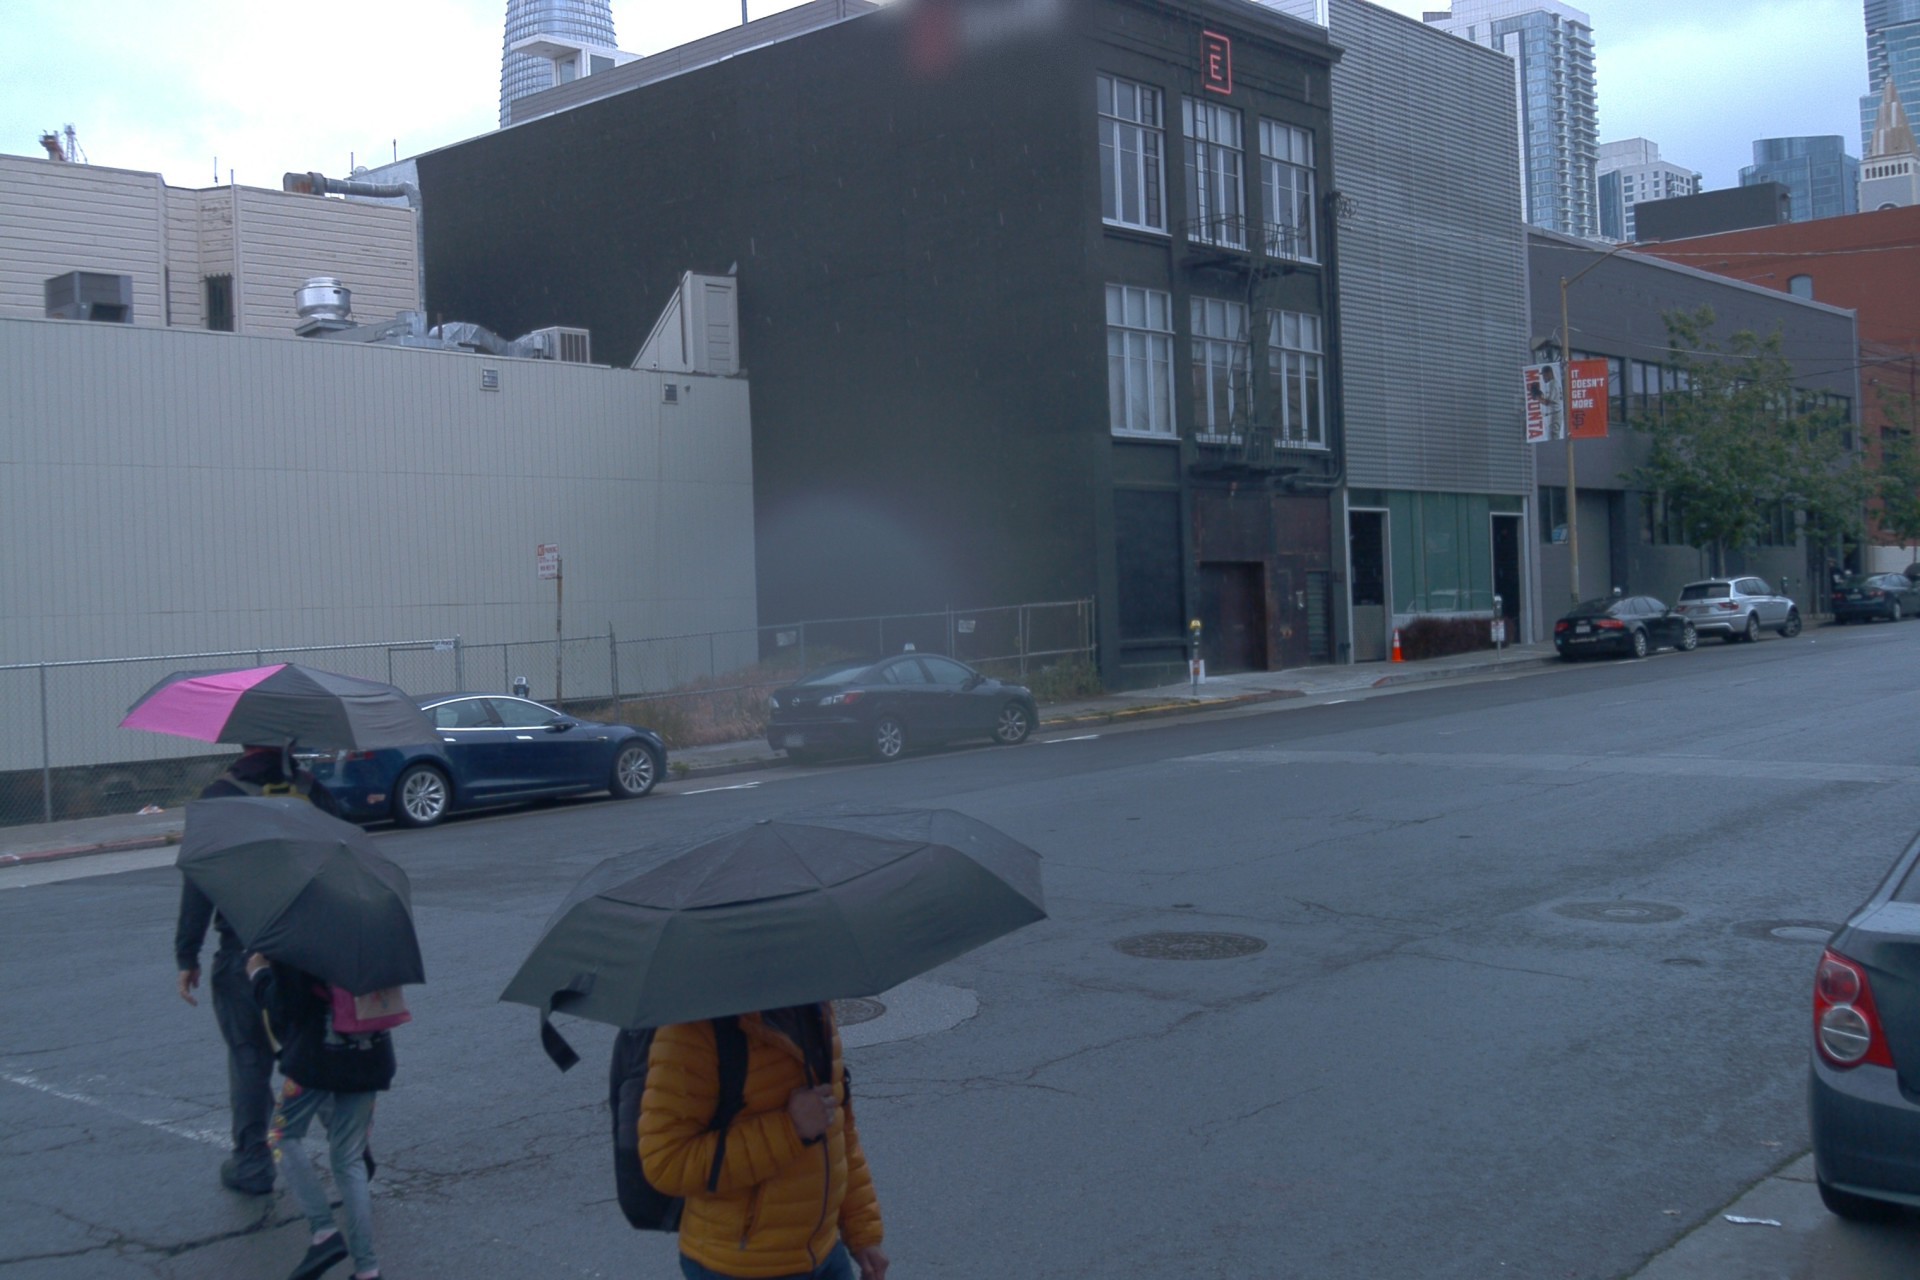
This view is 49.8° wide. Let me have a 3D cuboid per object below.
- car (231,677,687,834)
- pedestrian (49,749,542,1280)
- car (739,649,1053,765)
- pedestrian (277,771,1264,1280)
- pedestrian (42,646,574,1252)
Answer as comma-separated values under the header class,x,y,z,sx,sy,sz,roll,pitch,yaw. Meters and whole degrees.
class,x,y,z,sx,sy,sz,roll,pitch,yaw
car,-5.571,1.220,23.536,2.011,1.550,4.768,0,-1,40
pedestrian,-1.998,1.189,6.230,1.066,1.652,0.999,0,-1,42
car,-0.825,0.894,29.045,2.005,1.500,4.289,0,-1,41
pedestrian,-0.315,1.194,3.904,1.332,1.790,1.290,0,-1,34
pedestrian,-2.412,1.004,7.656,1.411,1.953,1.357,0,-1,45
